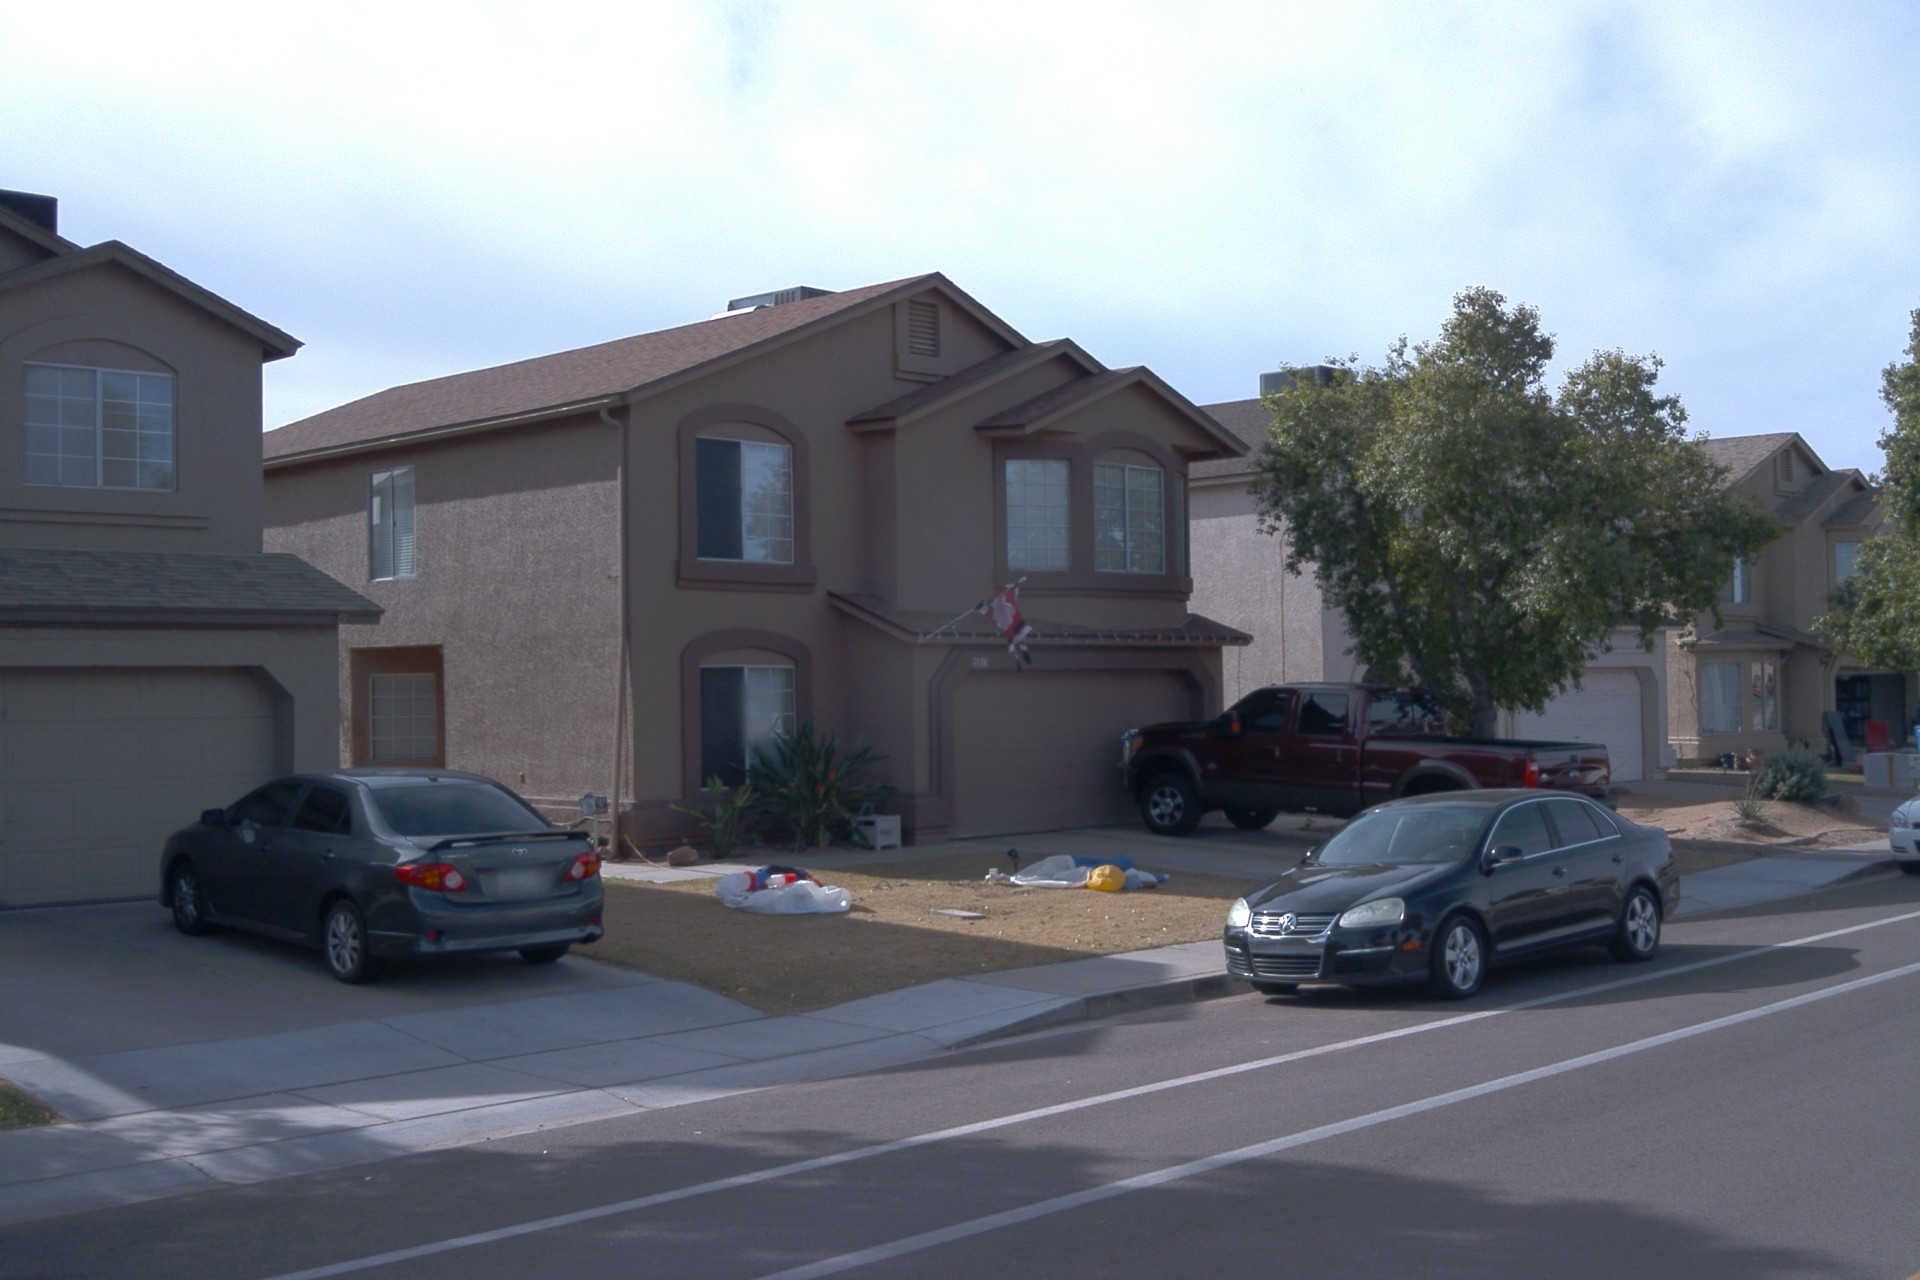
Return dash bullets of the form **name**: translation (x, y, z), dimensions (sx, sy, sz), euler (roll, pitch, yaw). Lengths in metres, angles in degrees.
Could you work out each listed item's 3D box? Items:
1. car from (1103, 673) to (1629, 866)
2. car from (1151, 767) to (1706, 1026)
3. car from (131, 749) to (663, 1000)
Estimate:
- **car**: translation (4.895, 1.478, 26.004), dimensions (6.202, 2.090, 2.225), euler (0, -1, 43)
- **car**: translation (3.762, 1.852, 16.258), dimensions (4.607, 1.500, 2.020), euler (1, -1, -44)
- **car**: translation (-4.546, 1.707, 16.462), dimensions (2.158, 1.490, 4.448), euler (1, -1, -44)
